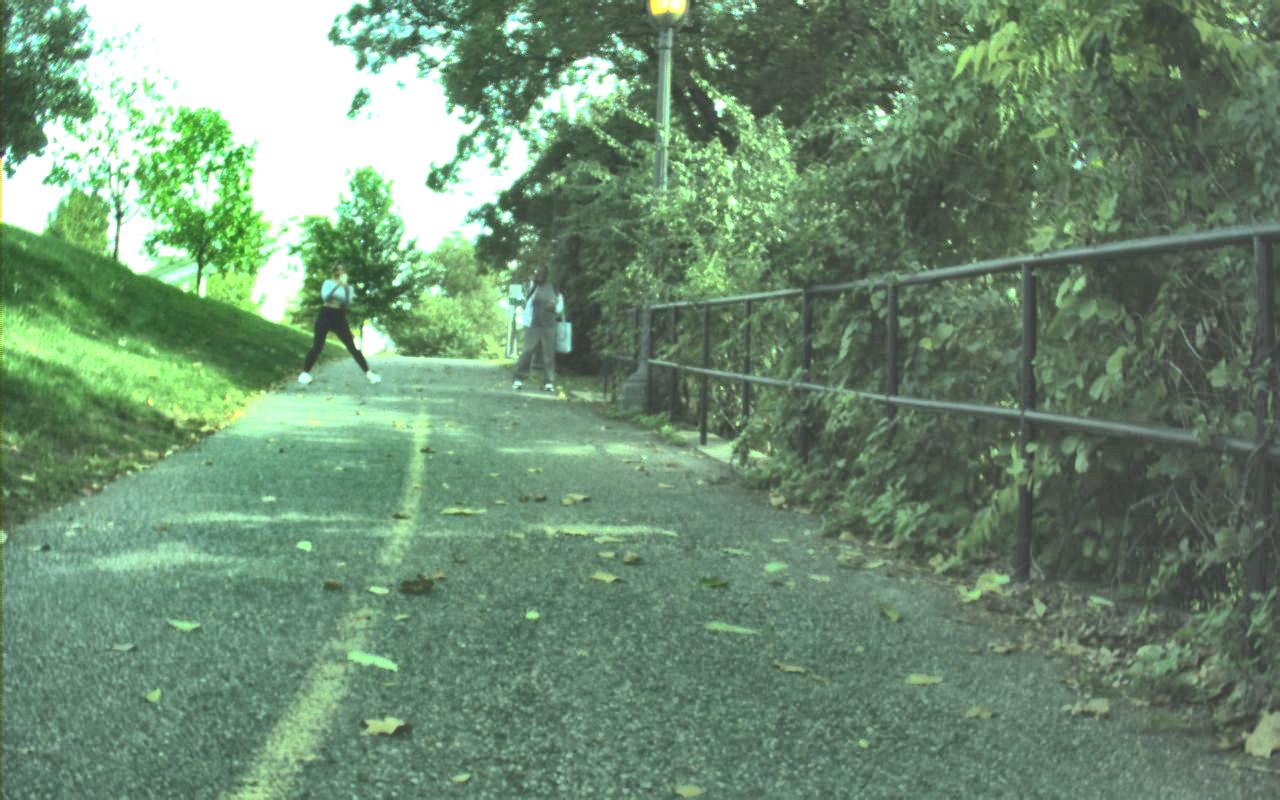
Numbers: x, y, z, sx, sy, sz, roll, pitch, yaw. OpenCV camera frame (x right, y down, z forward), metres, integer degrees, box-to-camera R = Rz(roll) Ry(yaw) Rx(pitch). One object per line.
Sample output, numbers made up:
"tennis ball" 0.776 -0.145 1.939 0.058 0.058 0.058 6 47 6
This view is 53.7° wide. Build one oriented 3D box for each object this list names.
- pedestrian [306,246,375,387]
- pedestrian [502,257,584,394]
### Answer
"pedestrian" -3.750 -1.011 15.336 0.827 1.710 0.775 0 0 -15
"pedestrian" -1.298 -0.964 16.710 0.826 1.760 0.818 0 0 -27
